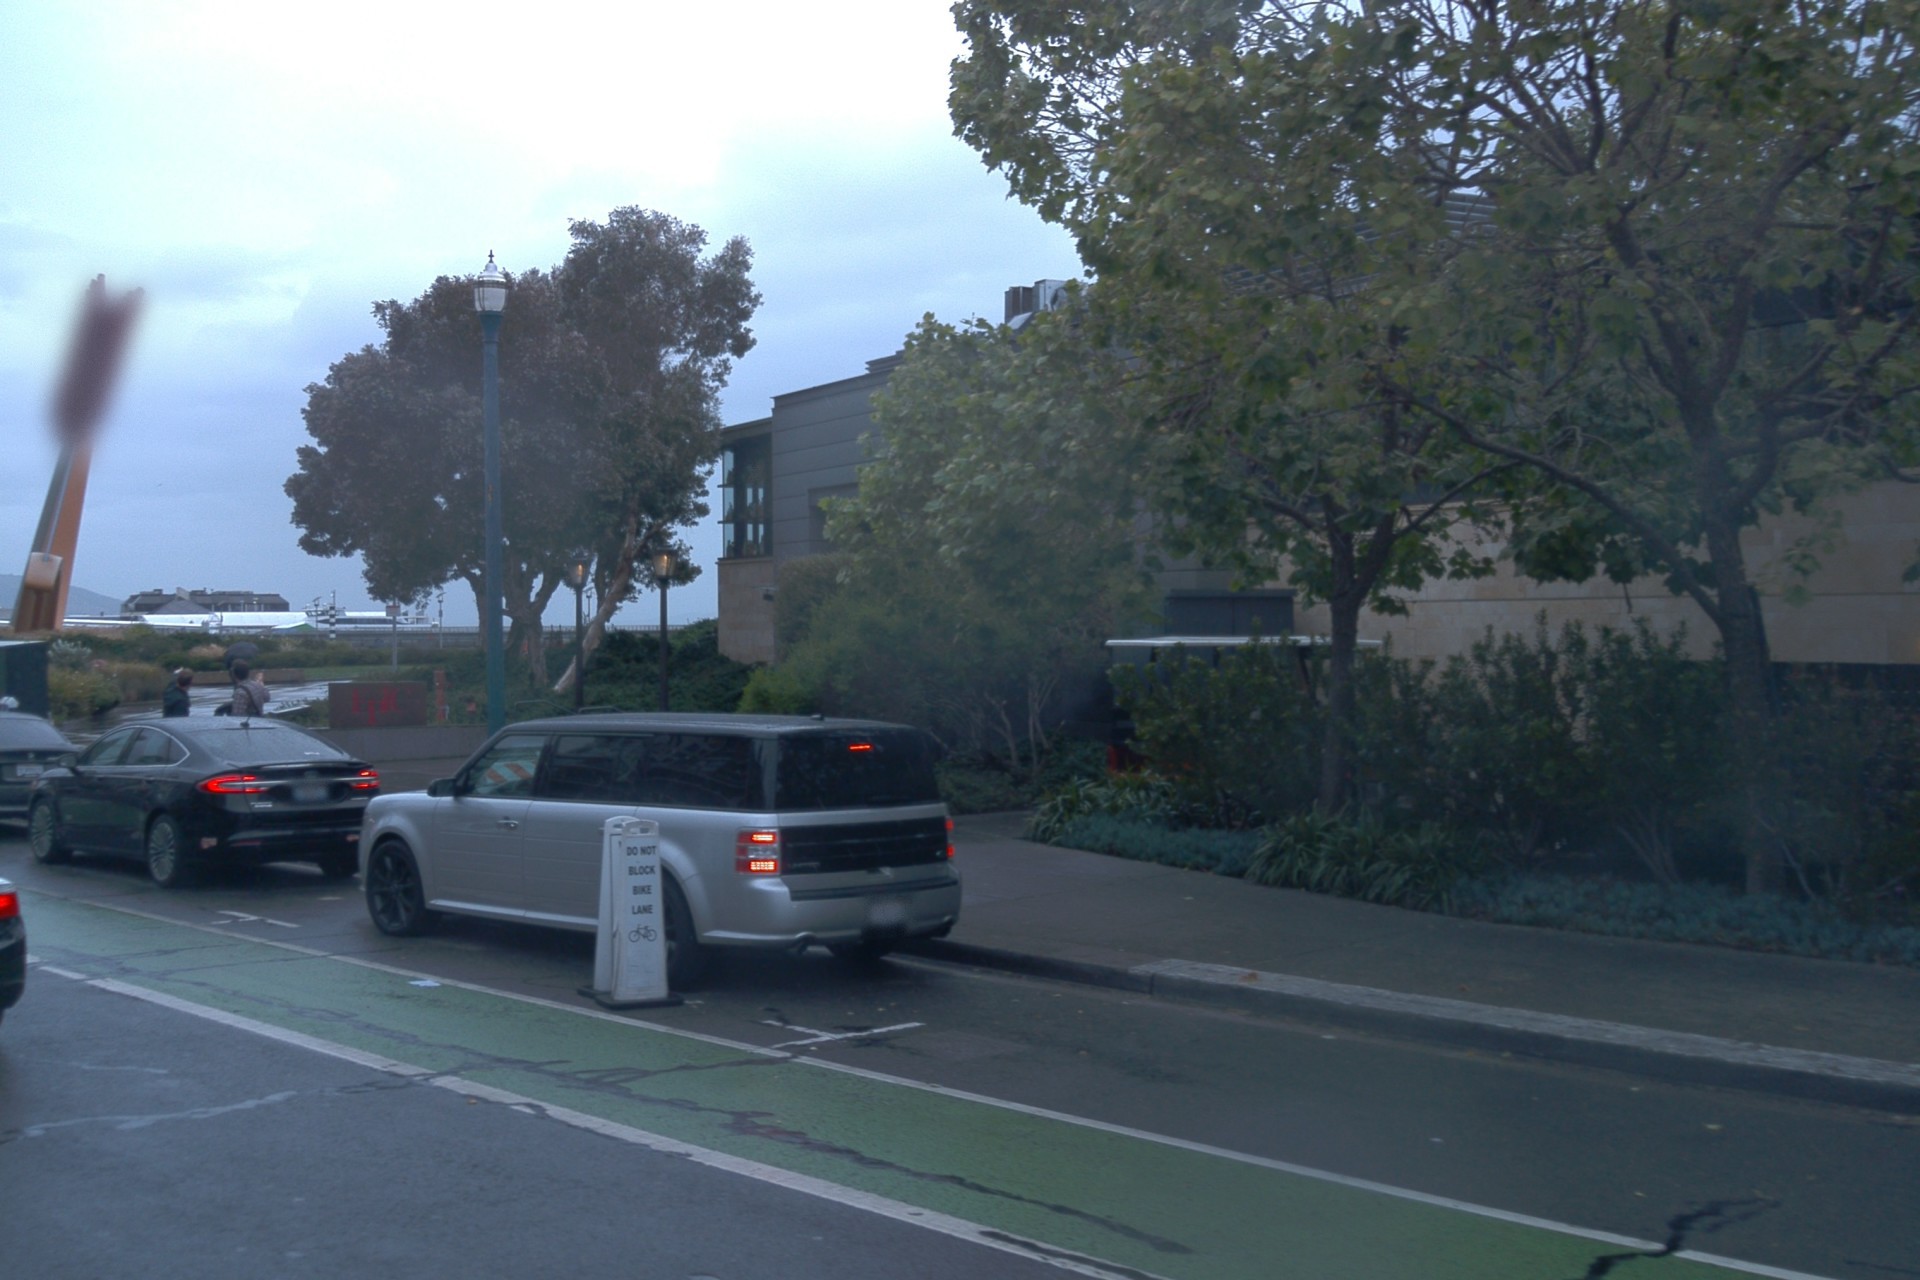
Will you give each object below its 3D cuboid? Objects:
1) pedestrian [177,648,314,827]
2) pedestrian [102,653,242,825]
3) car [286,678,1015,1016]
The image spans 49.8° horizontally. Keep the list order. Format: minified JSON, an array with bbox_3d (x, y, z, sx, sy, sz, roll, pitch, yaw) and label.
[{"bbox_3d":[-8.459,1.124,24.510,1.065,2.050,1.153,0,-1,42],"label":"pedestrian"},{"bbox_3d":[-9.215,1.127,24.206,1.272,1.939,1.046,0,-1,42],"label":"pedestrian"},{"bbox_3d":[-2.367,1.245,14.647,5.327,1.890,2.314,0,-1,44],"label":"car"}]
